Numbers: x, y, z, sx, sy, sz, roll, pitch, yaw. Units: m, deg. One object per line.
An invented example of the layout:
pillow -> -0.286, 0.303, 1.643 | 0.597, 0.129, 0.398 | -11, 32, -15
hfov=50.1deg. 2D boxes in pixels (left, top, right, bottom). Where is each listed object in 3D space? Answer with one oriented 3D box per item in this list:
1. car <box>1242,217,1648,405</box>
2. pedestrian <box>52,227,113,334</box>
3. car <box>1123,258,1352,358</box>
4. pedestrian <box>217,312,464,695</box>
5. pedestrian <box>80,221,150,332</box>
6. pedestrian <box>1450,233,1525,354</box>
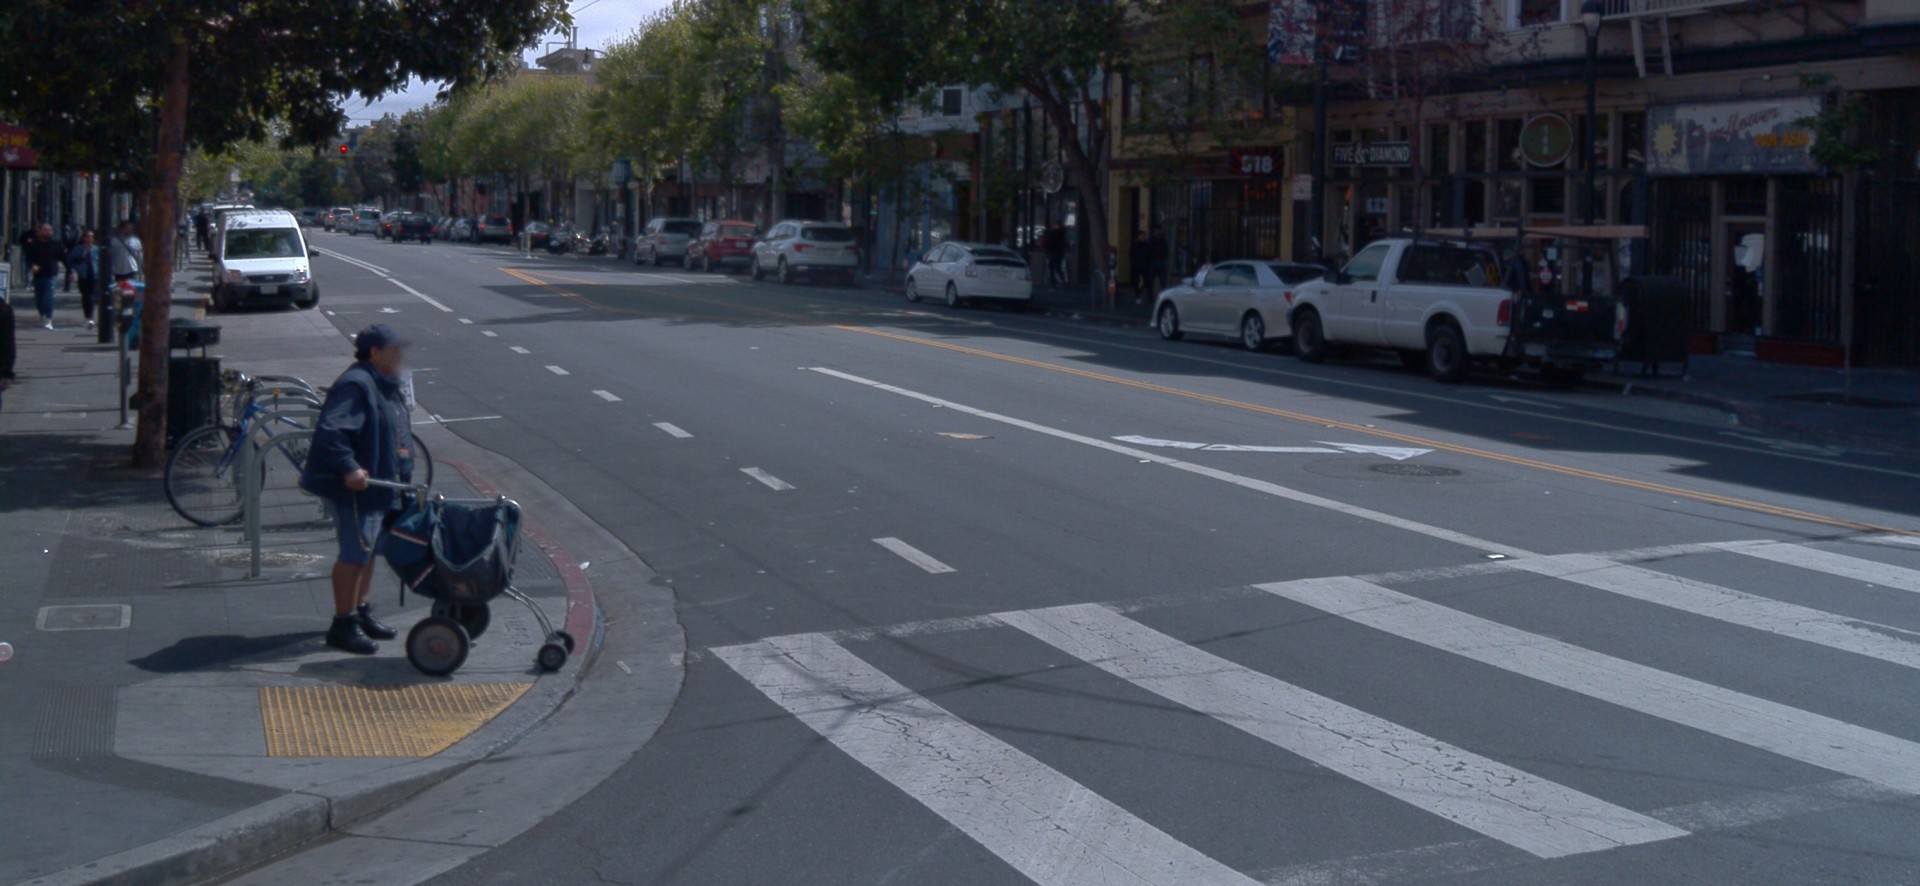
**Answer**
car -> 6.438, -1.937, 28.297 | 2.465, 2.282, 6.171 | -1, 5, -20
pedestrian -> -14.249, -2.651, 33.378 | 0.818, 1.709, 0.780 | 0, 1, -17
car -> 4.442, -2.266, 33.631 | 1.634, 1.455, 4.479 | -1, 5, -24
pedestrian -> -3.113, 0.253, 10.378 | 0.821, 1.789, 0.874 | 0, 1, 22
pedestrian -> -14.045, -2.780, 34.177 | 0.945, 1.809, 0.834 | 0, 1, -13
pedestrian -> 8.397, -2.392, 32.731 | 0.712, 1.889, 1.021 | 0, 1, -19
